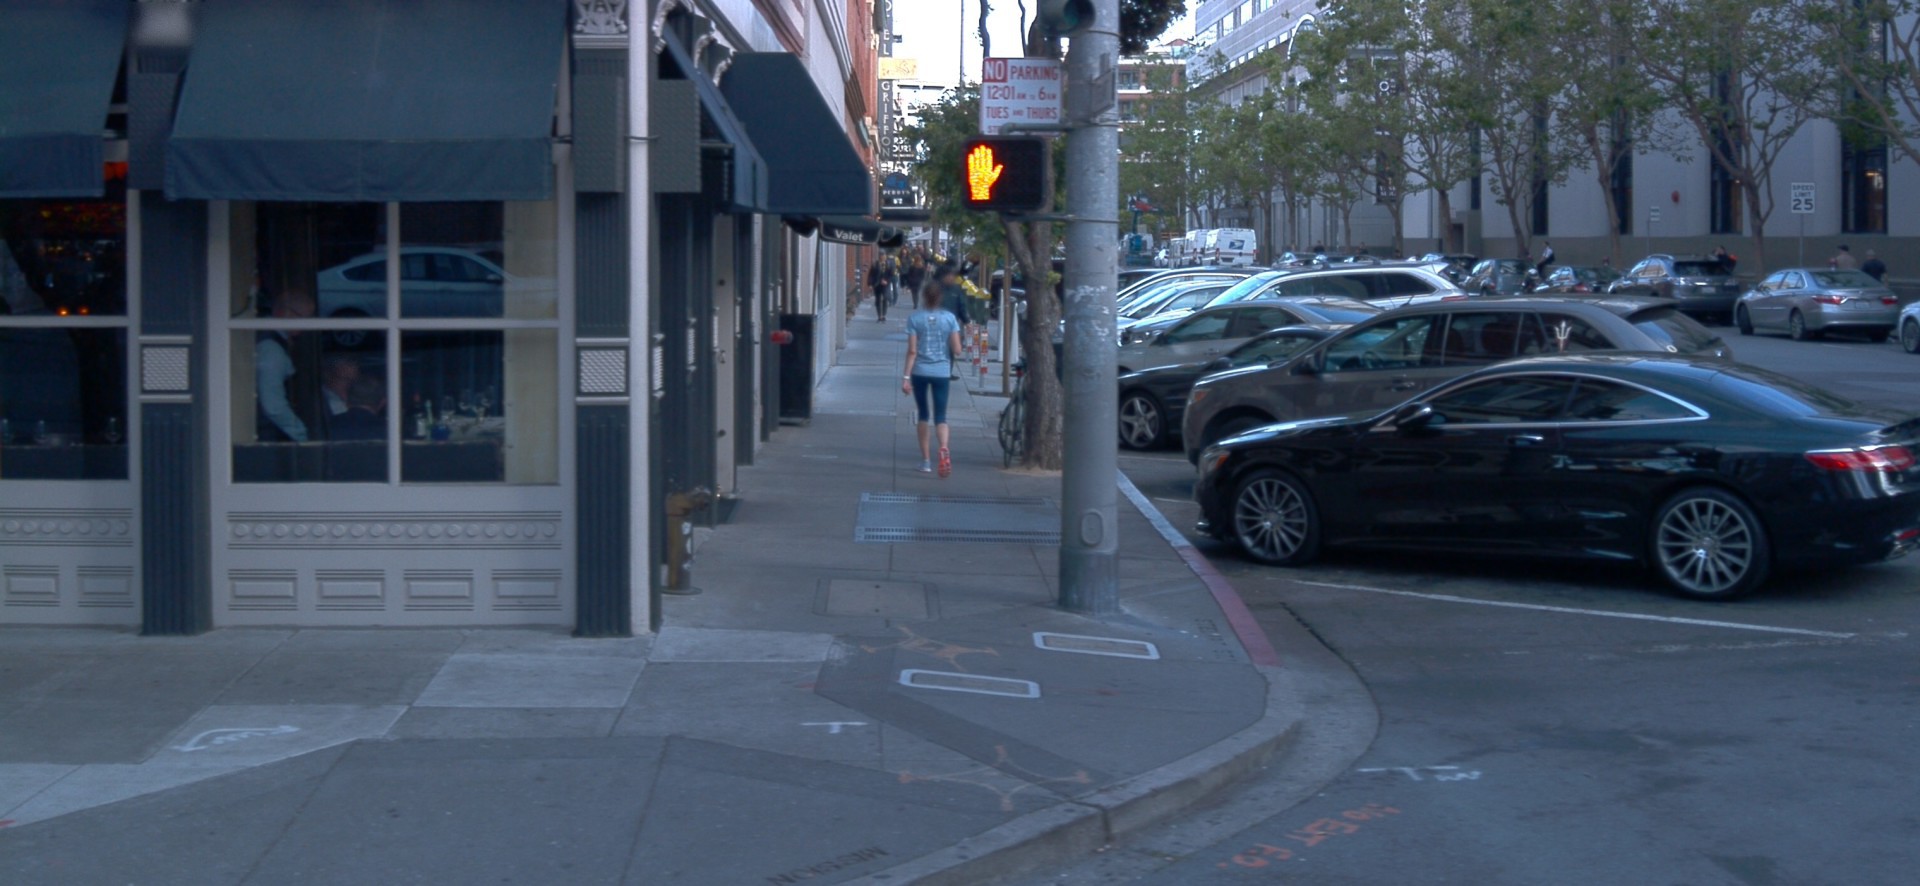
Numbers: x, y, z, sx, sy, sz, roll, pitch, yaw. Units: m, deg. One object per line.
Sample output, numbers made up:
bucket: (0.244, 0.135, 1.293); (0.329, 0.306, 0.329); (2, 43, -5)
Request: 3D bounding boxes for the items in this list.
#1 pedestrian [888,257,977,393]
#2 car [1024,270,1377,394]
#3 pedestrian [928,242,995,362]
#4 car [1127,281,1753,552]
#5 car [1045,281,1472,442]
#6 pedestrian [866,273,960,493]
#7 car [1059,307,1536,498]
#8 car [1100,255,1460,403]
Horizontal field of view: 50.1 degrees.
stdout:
pedestrian: (-0.395, -1.693, 29.117); (0.916, 1.879, 0.944); (-1, 1, -31)
car: (3.633, -1.755, 31.797); (5.166, 1.796, 2.200); (0, 4, -1)
pedestrian: (0.032, -2.517, 36.414); (0.881, 2.100, 0.875); (0, 1, 26)
car: (3.944, -0.372, 17.237); (4.641, 1.883, 2.152); (4, 5, 37)
car: (3.480, -1.073, 24.681); (2.140, 1.625, 4.818); (-3, 6, -43)
pedestrian: (-0.420, -0.556, 17.863); (0.741, 1.829, 1.137); (0, 2, -5)
car: (3.407, -0.529, 21.306); (4.468, 1.610, 2.163); (5, 6, 45)
car: (4.406, -1.641, 28.883); (4.696, 1.974, 2.174); (0, 3, -2)
